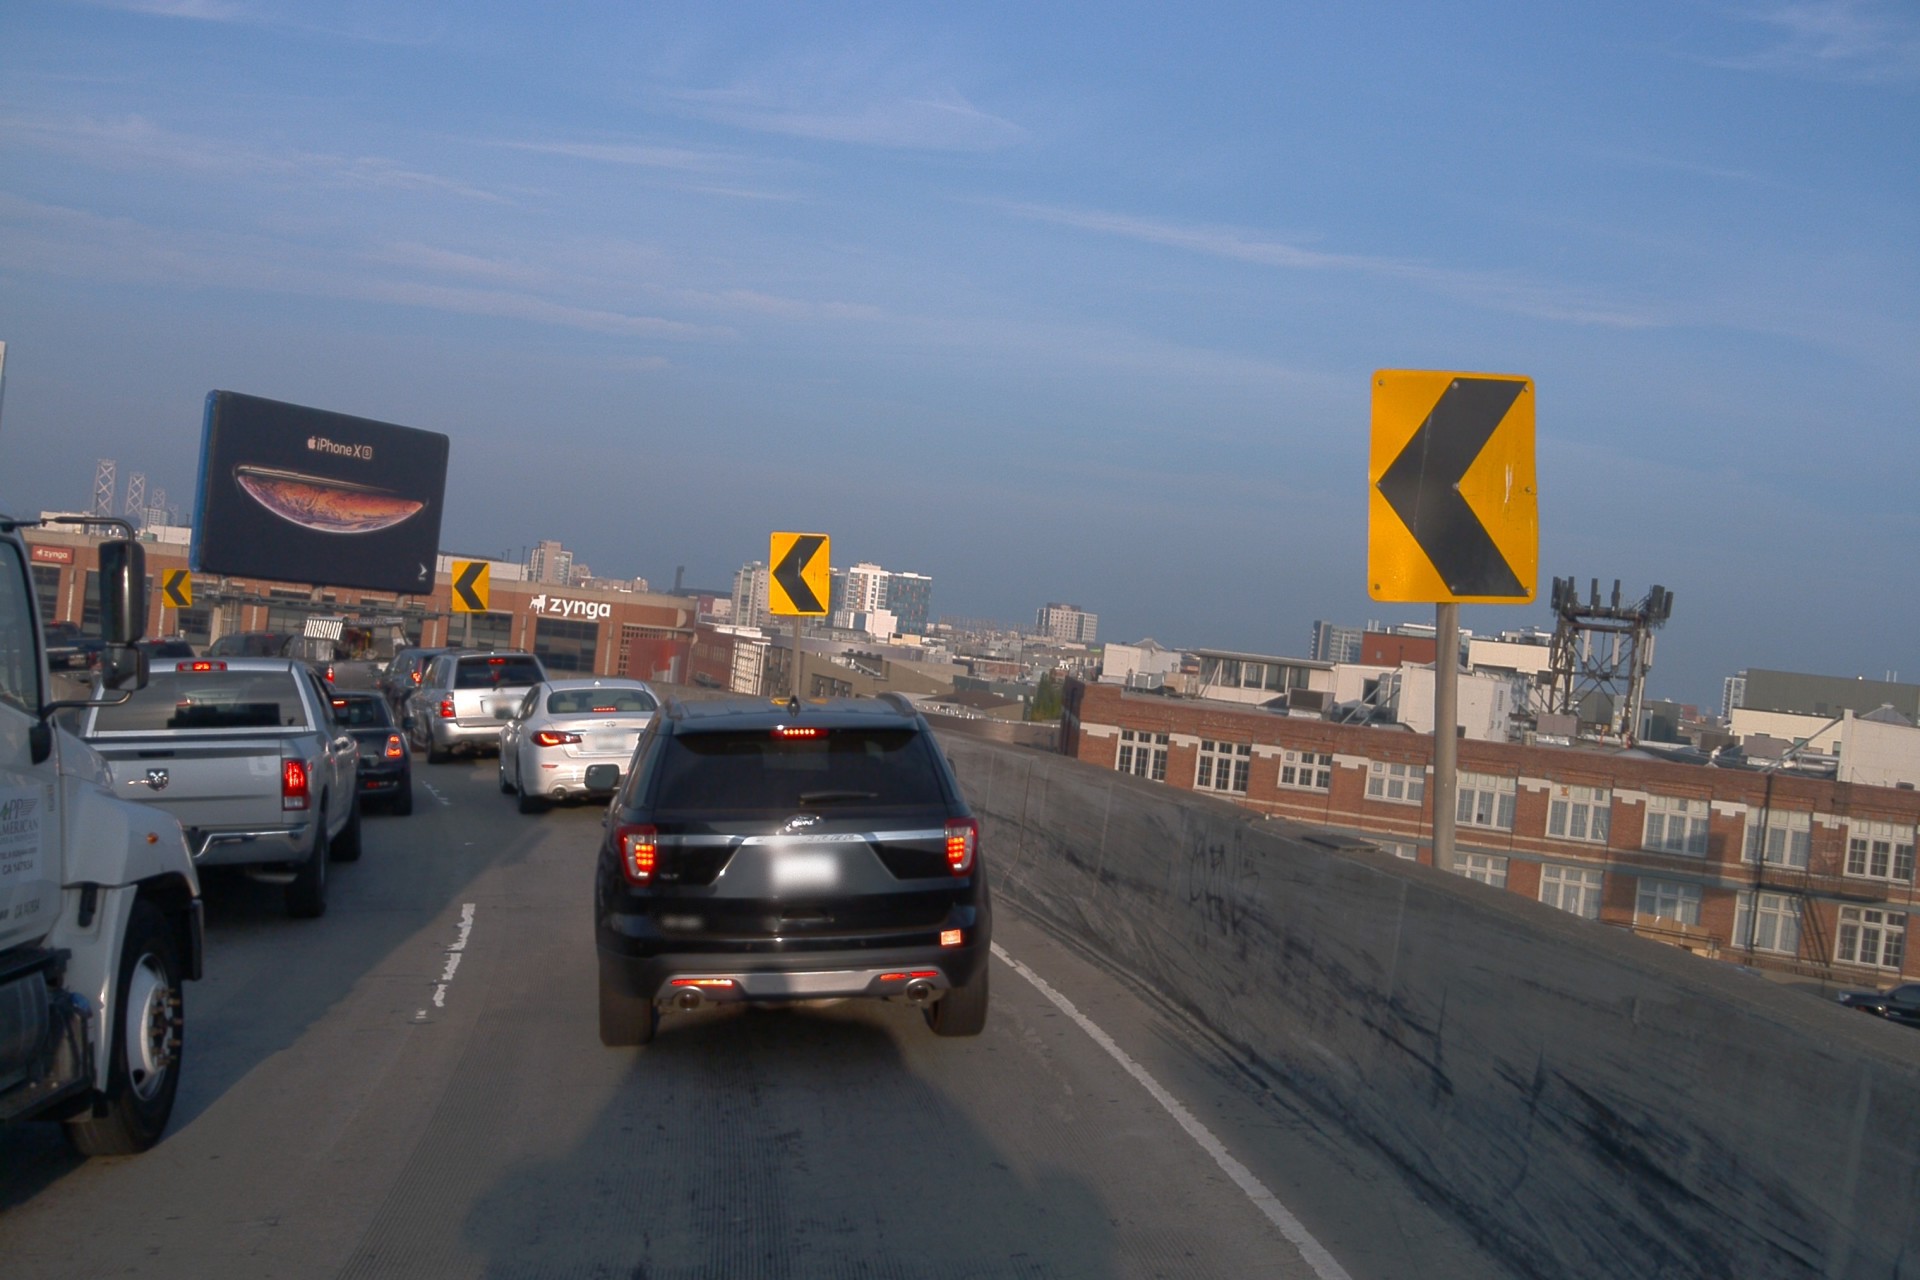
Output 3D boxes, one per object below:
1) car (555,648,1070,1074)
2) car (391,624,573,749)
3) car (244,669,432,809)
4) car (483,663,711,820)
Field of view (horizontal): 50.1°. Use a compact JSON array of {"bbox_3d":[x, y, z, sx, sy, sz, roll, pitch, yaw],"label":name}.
[{"bbox_3d":[-1.028,0.993,11.722,2.327,1.850,4.876,0,0,-9],"label":"car"},{"bbox_3d":[-7.580,0.673,32.262,1.992,1.820,4.393,0,0,-24],"label":"car"},{"bbox_3d":[-7.220,1.087,24.153,1.934,1.411,4.084,0,0,-14],"label":"car"},{"bbox_3d":[-4.399,1.110,24.294,2.144,1.590,4.509,0,0,-17],"label":"car"}]
